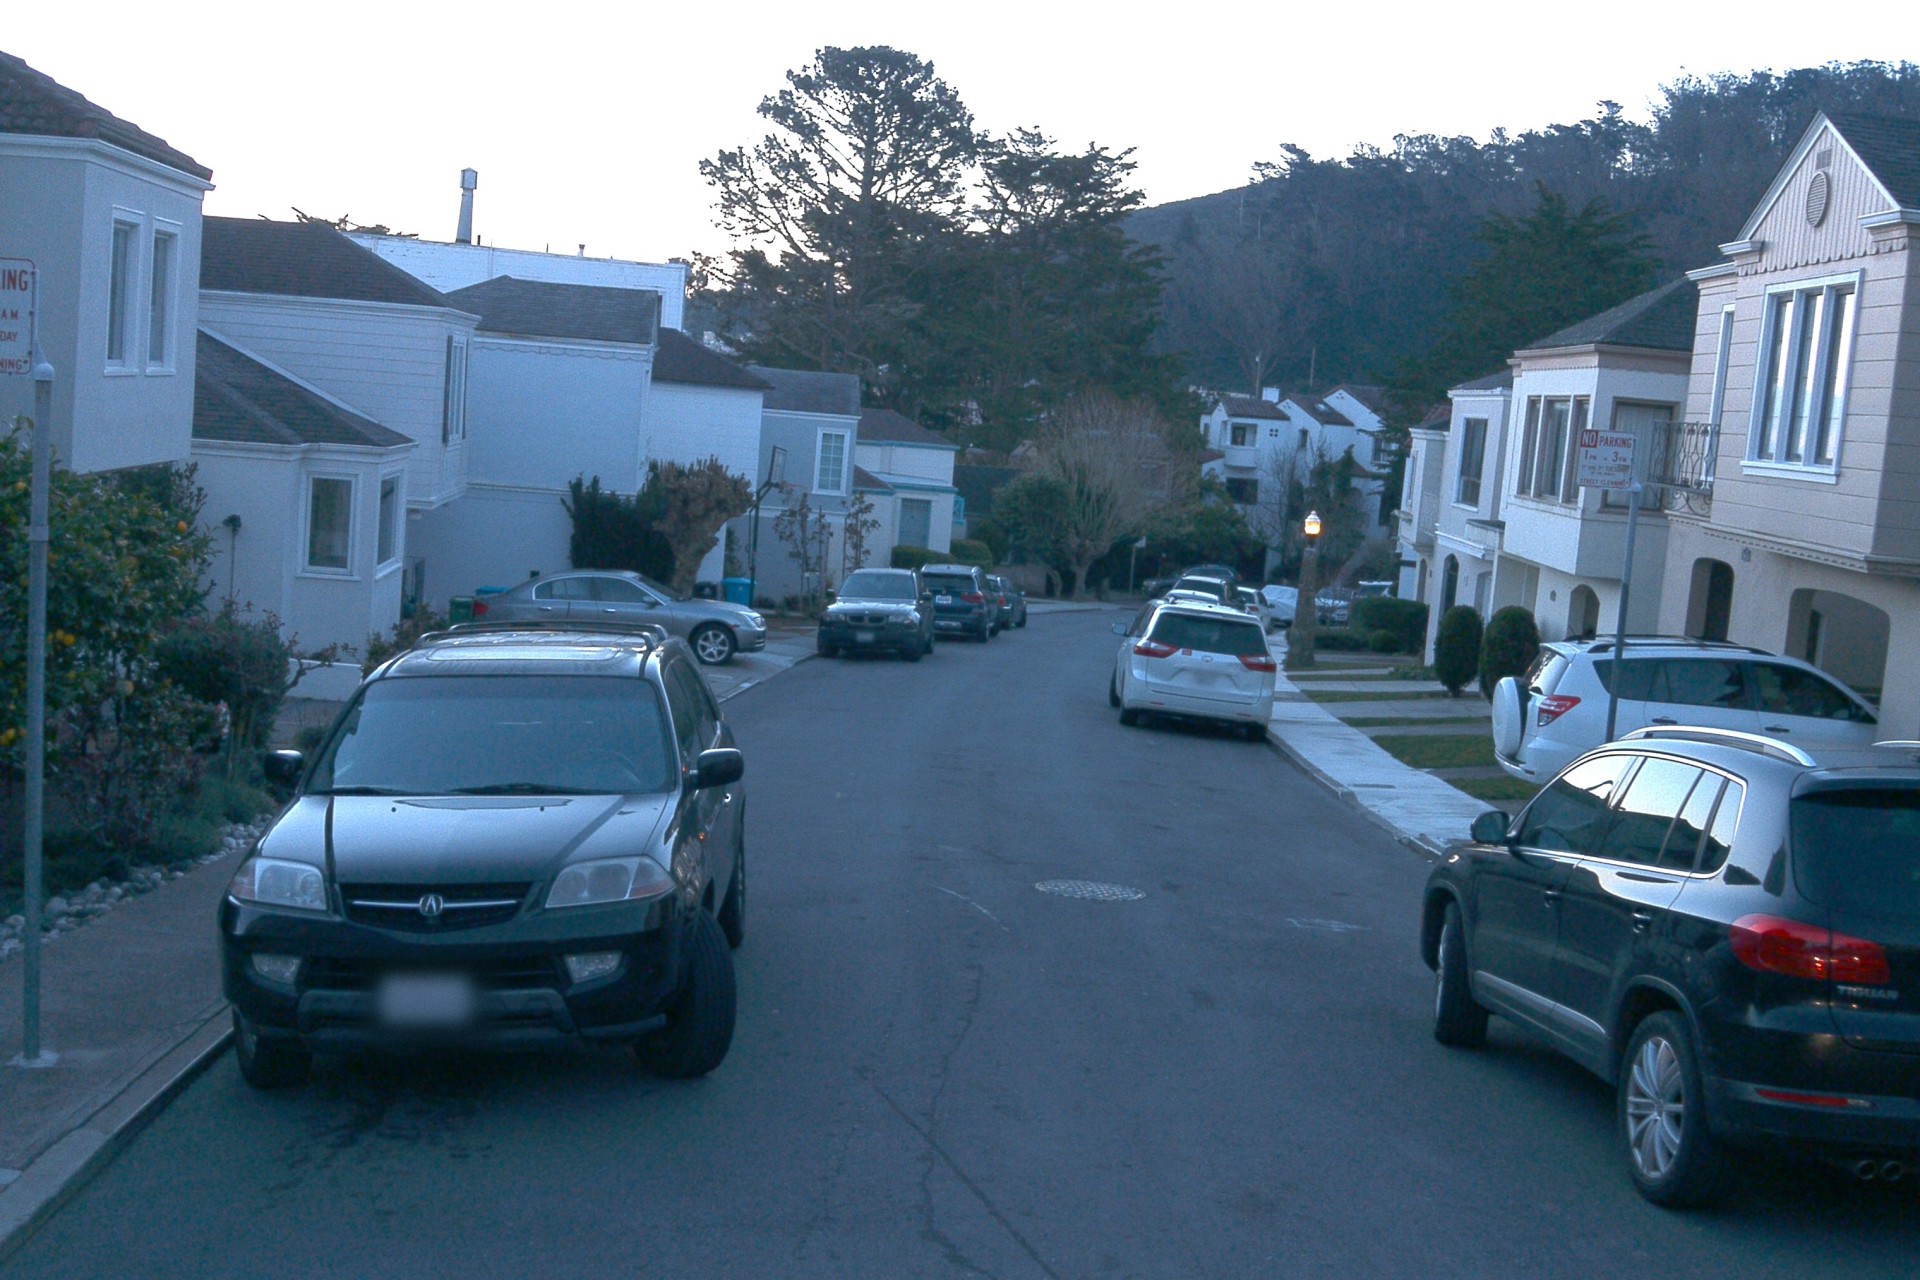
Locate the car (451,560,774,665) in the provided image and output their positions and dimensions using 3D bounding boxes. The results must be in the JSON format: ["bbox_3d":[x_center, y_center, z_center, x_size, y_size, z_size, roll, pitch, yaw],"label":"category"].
[{"bbox_3d":[-5.414,-0.425,32.751,4.769,1.580,1.989,0,0,-1],"label":"car"}]

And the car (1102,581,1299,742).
[{"bbox_3d":[3.245,0.265,29.019,2.374,2.050,5.078,0,0,2],"label":"car"}]

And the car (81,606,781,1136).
[{"bbox_3d":[-2.107,0.815,9.915,2.326,1.880,4.864,0,0,-3],"label":"car"}]
